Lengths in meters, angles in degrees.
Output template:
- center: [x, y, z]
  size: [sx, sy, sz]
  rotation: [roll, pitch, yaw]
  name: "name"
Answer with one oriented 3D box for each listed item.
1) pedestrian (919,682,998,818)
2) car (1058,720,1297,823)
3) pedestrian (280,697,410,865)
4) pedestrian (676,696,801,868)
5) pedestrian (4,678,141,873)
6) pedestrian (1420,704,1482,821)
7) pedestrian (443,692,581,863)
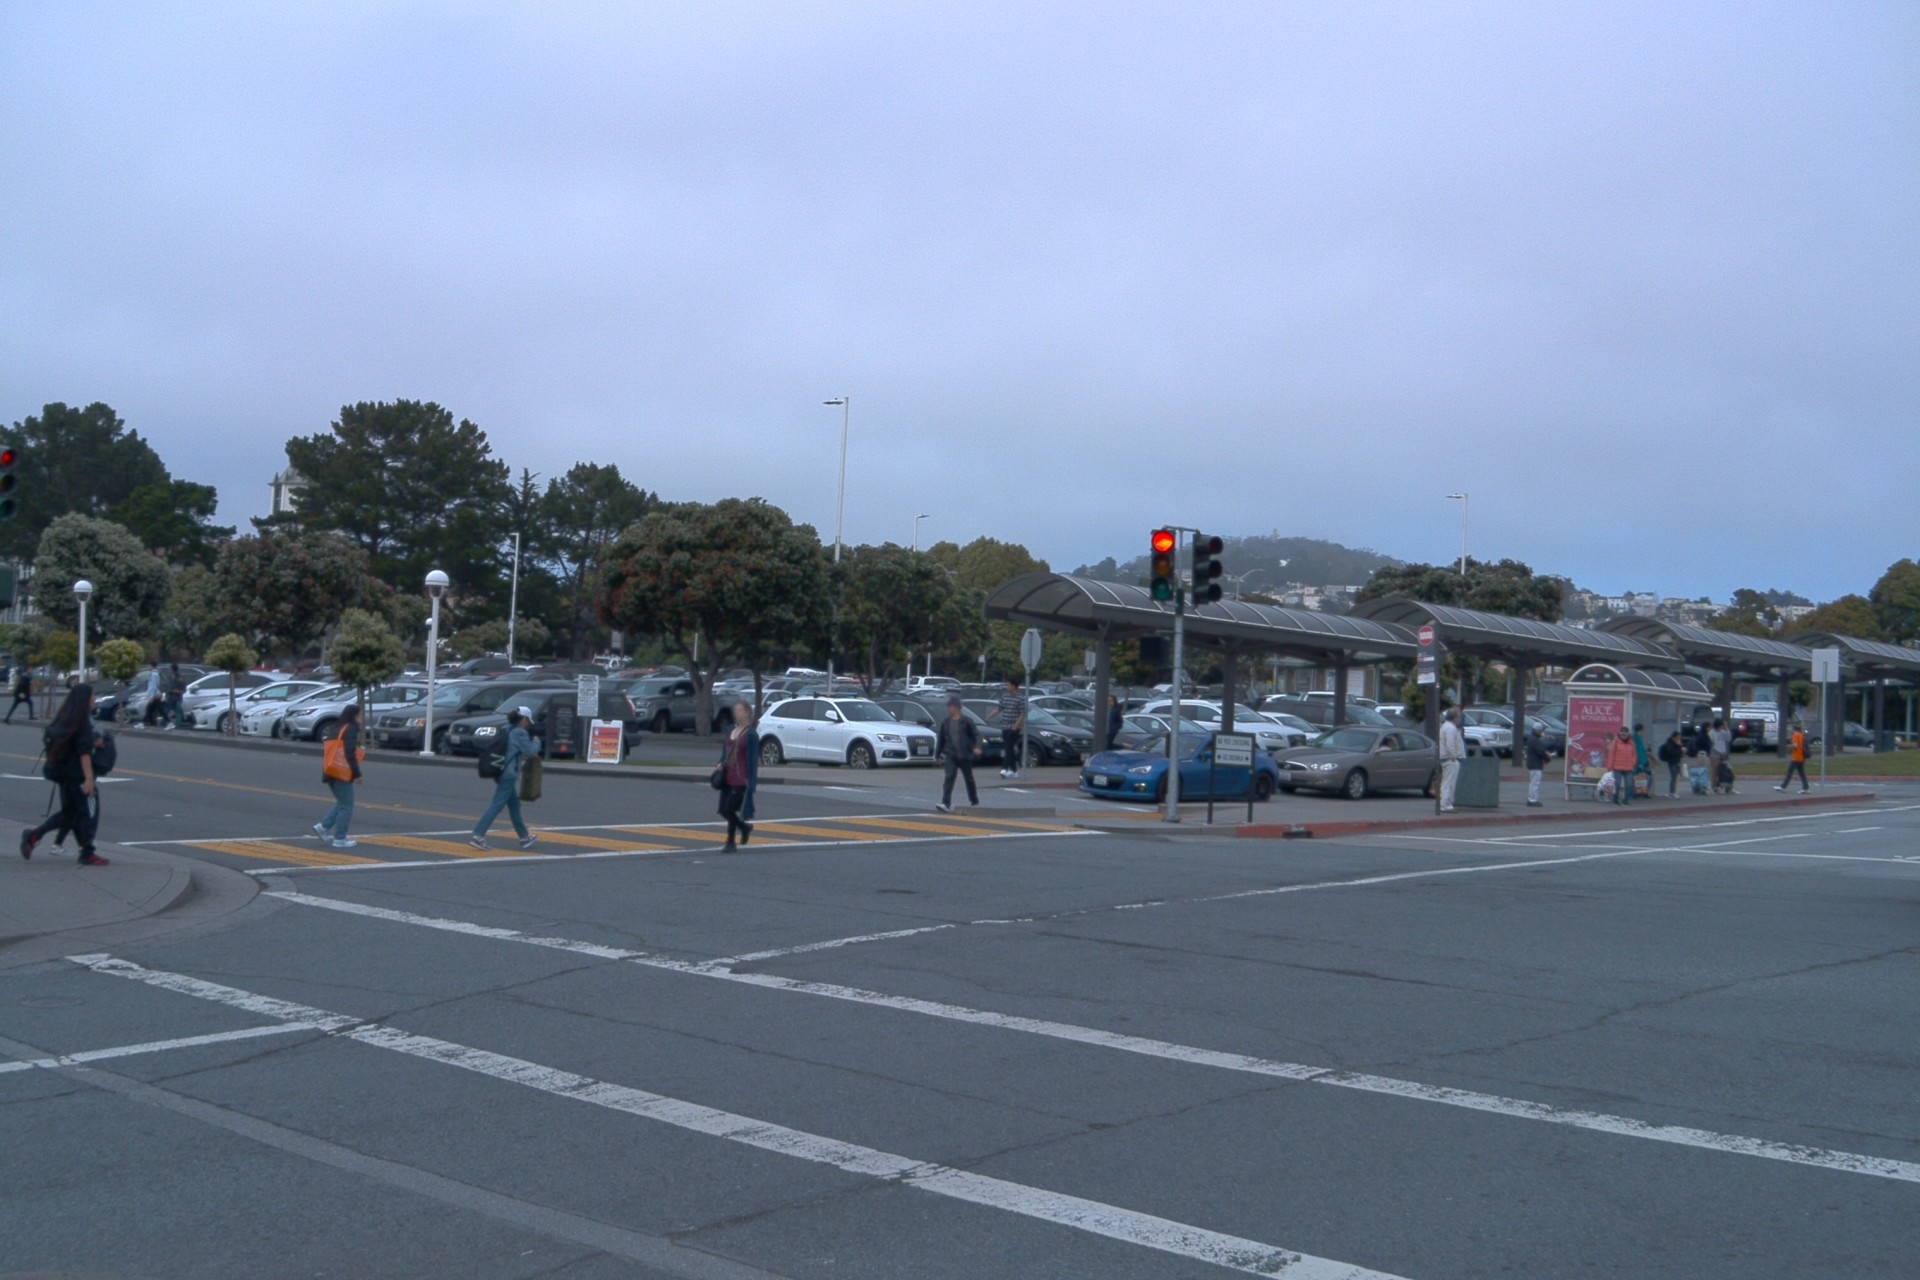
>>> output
- center: [-0.019, 1.639, 31.105]
  size: [0.866, 1.960, 1.134]
  rotation: [0, 1, 18]
  name: "pedestrian"
- center: [3.968, 2.323, 37.223]
  size: [4.281, 1.520, 1.972]
  rotation: [-1, 1, -44]
  name: "car"
- center: [-6.572, 1.485, 22.075]
  size: [1.112, 1.690, 0.745]
  rotation: [-1, 1, -43]
  name: "pedestrian"
- center: [-2.432, 1.538, 22.760]
  size: [0.830, 1.790, 1.157]
  rotation: [0, 1, 31]
  name: "pedestrian"
- center: [-8.038, 1.208, 18.719]
  size: [0.724, 1.690, 0.897]
  rotation: [0, 1, 14]
  name: "pedestrian"
- center: [8.395, 2.079, 35.267]
  size: [0.848, 1.930, 0.853]
  rotation: [0, 1, 28]
  name: "pedestrian"
- center: [-4.811, 1.447, 22.166]
  size: [0.928, 1.720, 1.113]
  rotation: [1, 1, 44]
  name: "pedestrian"
